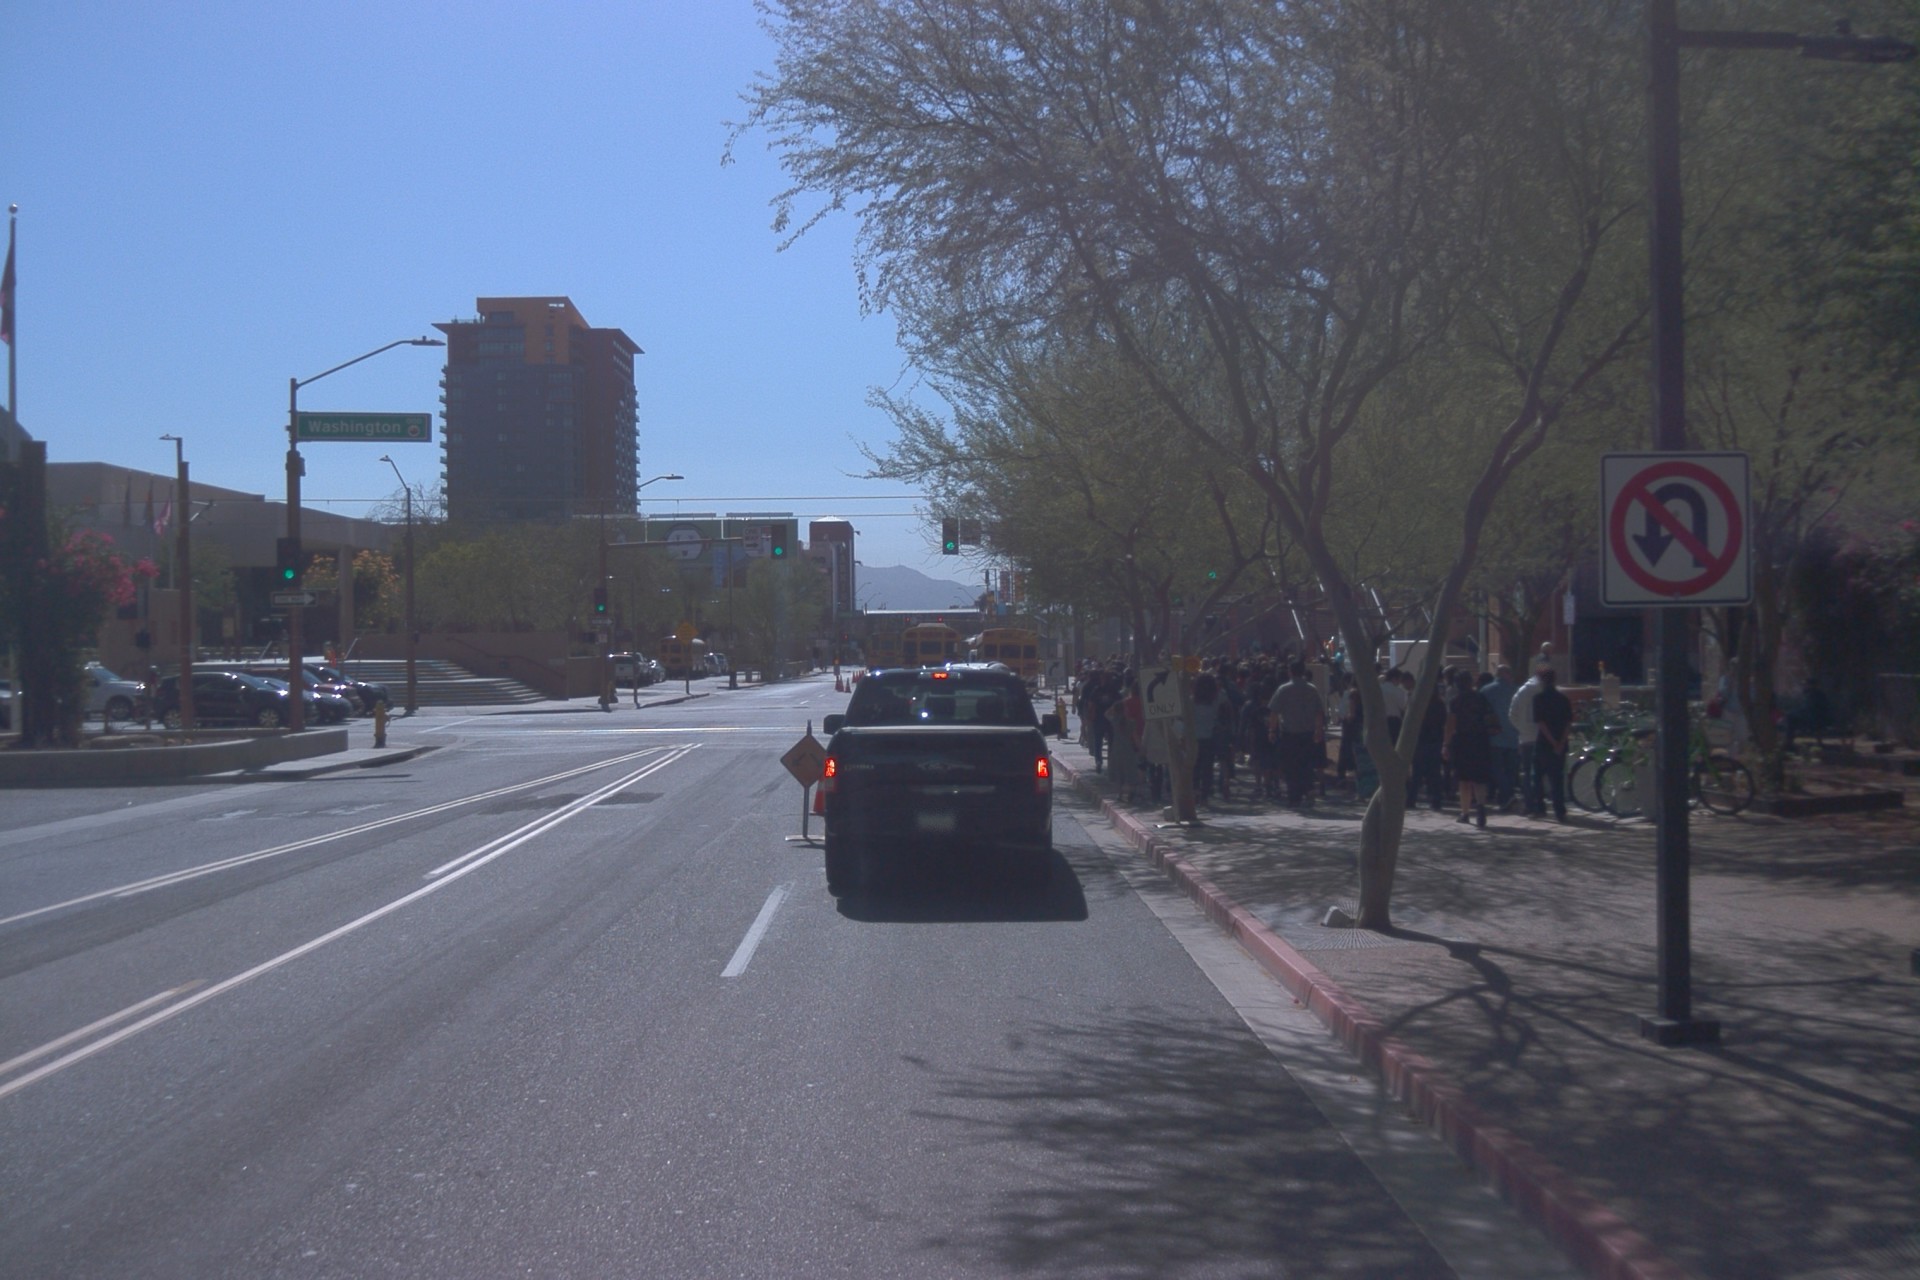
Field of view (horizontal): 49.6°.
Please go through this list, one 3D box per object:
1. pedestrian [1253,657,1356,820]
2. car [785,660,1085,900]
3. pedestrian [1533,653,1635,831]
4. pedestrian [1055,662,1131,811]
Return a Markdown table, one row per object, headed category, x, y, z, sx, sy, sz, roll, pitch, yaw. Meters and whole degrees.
| category | x | y | z | sx | sy | sz | roll | pitch | yaw |
| --- | --- | --- | --- | --- | --- | --- | --- | --- | --- |
| pedestrian | 4.102 | 1.153 | 24.814 | 0.958 | 1.900 | 0.881 | 0 | 0 | -12 |
| car | -0.164 | 1.188 | 19.935 | 2.487 | 1.950 | 5.329 | 0 | 0 | 1 |
| pedestrian | 6.722 | 1.082 | 22.435 | 0.835 | 1.880 | 0.792 | 0 | 0 | -1 |
| pedestrian | 1.740 | 1.241 | 27.078 | 0.959 | 1.900 | 0.880 | 0 | 0 | 5 |
